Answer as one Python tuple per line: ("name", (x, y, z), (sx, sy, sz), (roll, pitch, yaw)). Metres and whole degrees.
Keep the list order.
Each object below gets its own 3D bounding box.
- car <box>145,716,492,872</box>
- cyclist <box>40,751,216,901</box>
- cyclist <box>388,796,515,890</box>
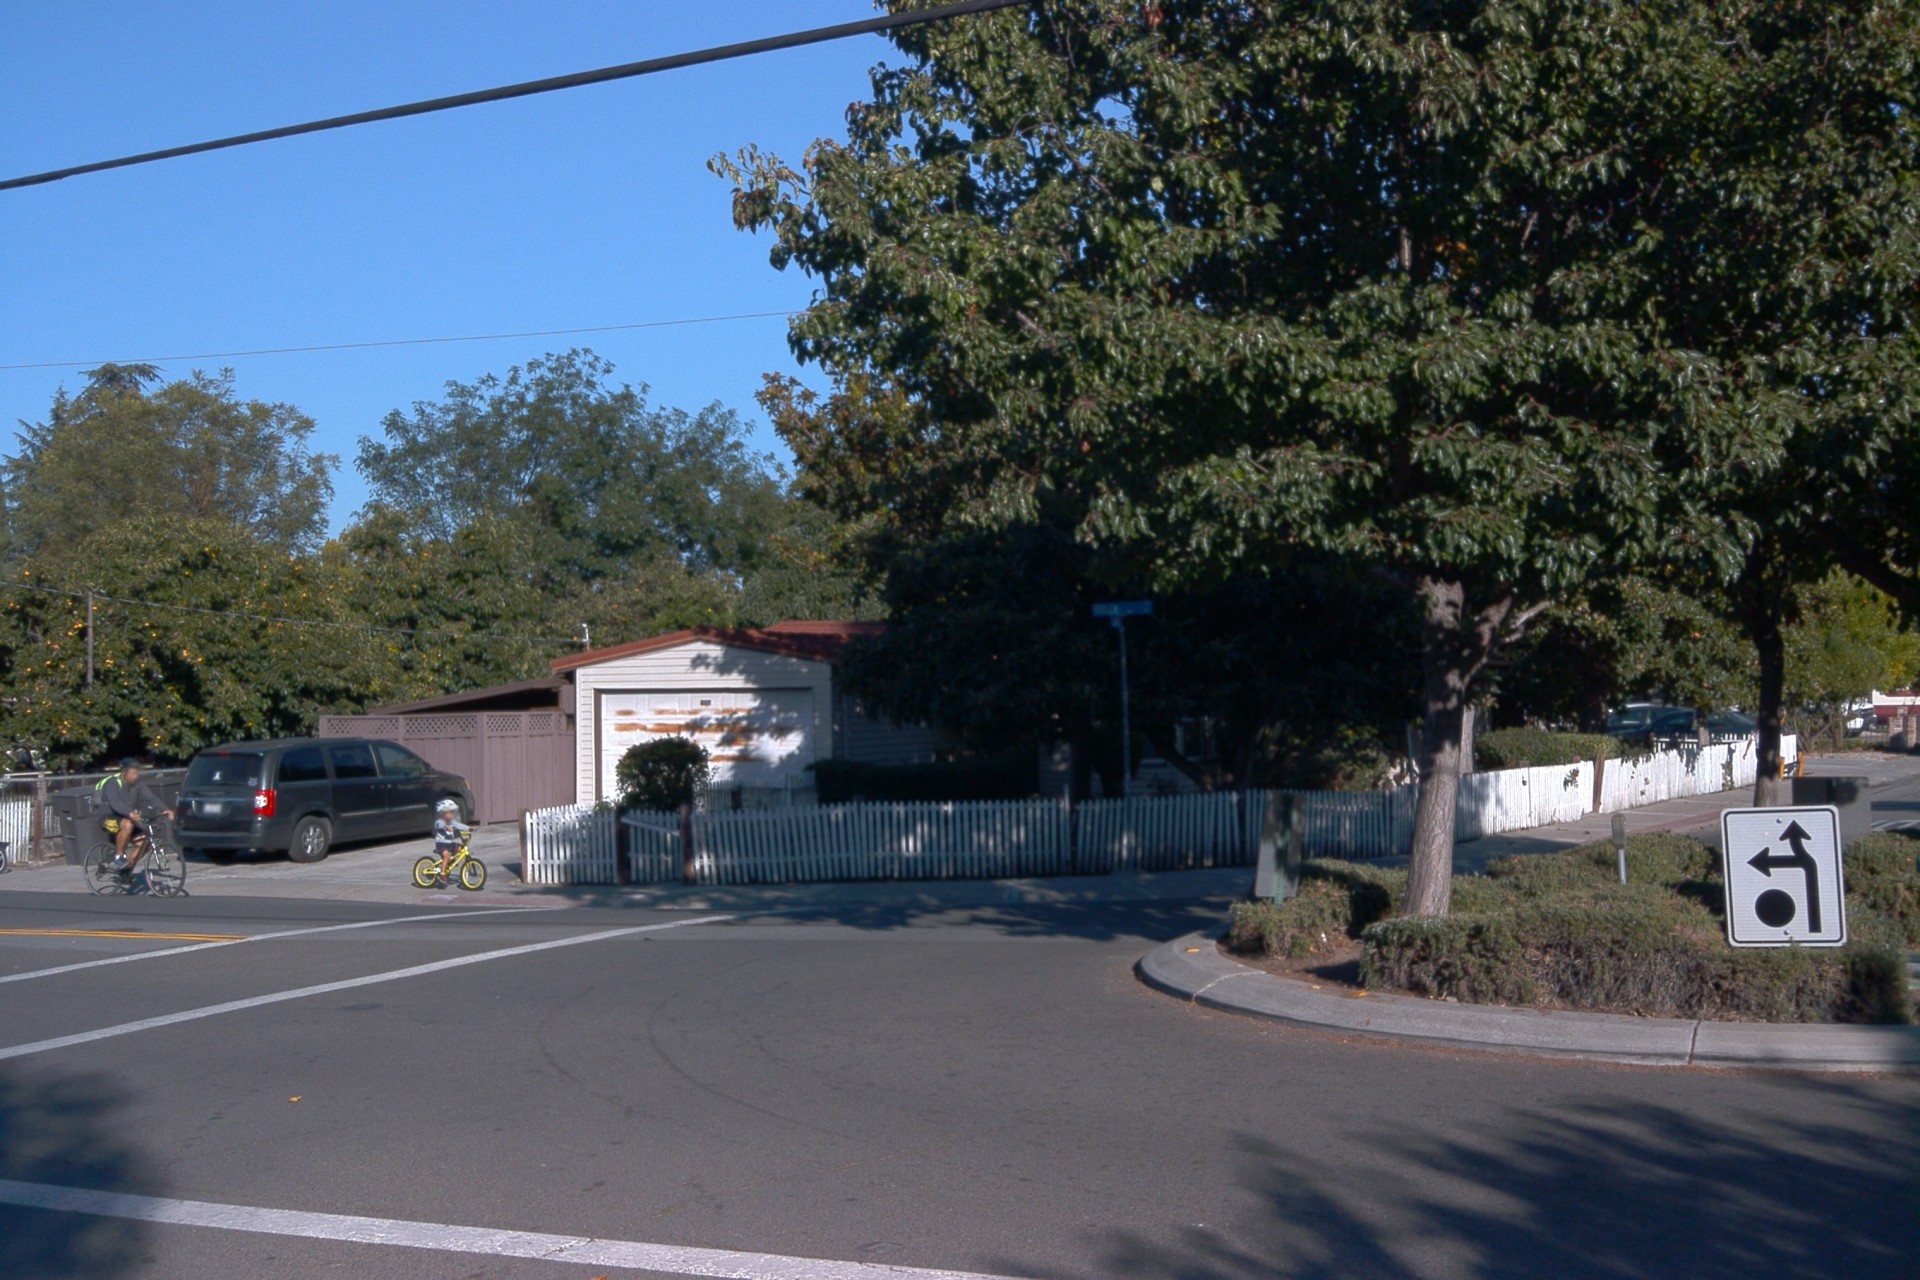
("car", (-9.475, 2.212, 31.198), (2.140, 1.930, 4.988), (1, 0, 25))
("cyclist", (-10.181, 2.246, 25.424), (1.947, 1.668, 0.825), (1, 0, 23))
("cyclist", (-6.266, 2.492, 25.631), (1.330, 1.030, 0.692), (1, 0, 18))
